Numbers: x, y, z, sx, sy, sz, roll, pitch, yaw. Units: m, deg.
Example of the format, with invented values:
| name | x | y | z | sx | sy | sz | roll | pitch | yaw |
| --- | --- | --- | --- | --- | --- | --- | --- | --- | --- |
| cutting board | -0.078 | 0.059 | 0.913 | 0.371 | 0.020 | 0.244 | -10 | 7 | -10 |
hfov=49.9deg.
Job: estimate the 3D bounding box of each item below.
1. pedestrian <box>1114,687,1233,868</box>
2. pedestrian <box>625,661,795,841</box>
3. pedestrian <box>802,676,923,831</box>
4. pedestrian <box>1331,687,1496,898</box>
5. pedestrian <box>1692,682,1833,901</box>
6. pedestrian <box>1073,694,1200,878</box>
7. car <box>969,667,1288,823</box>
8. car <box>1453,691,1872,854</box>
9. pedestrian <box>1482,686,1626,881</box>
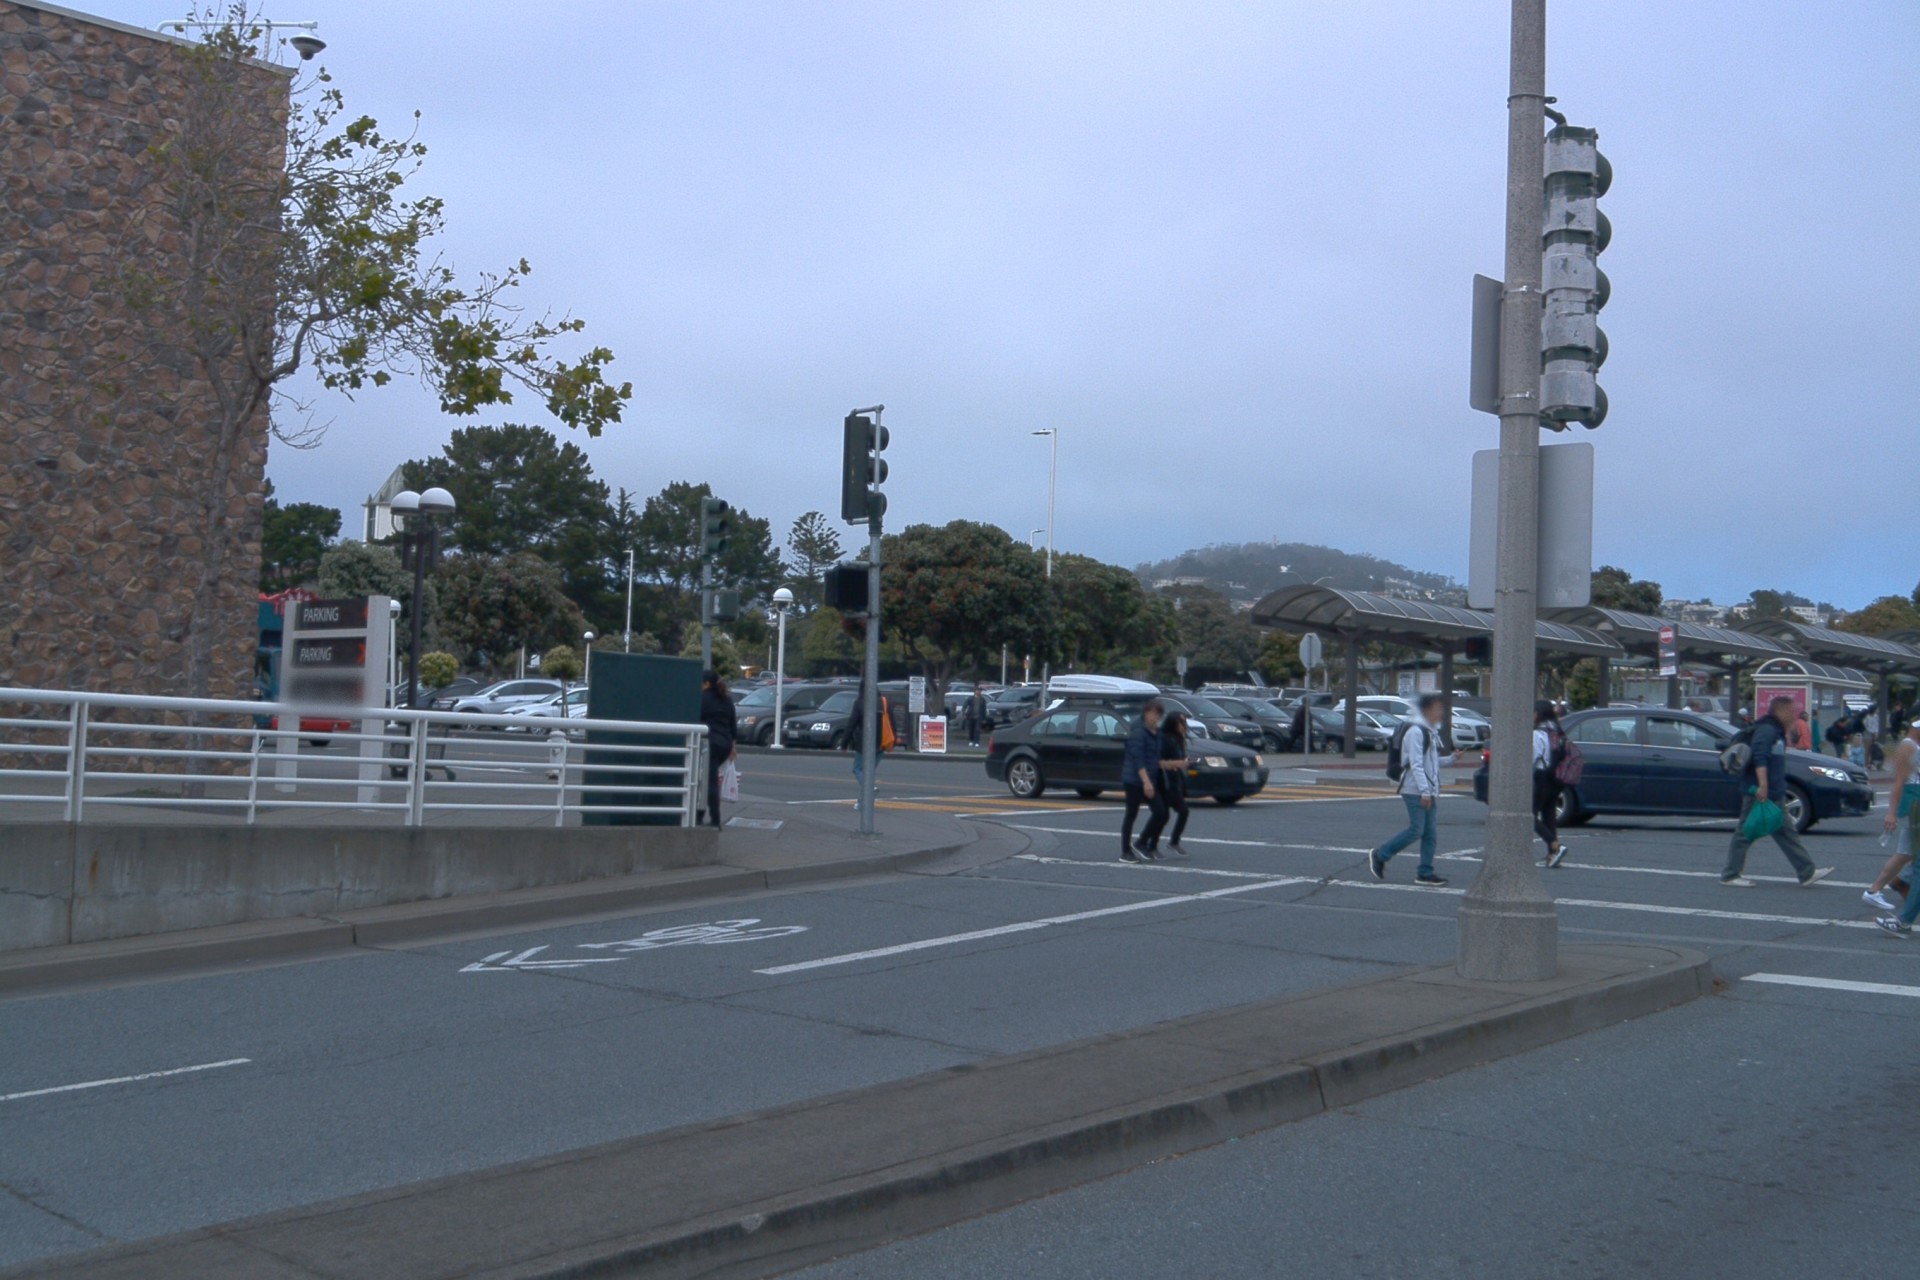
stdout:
| name | x | y | z | sx | sy | sz | roll | pitch | yaw |
| --- | --- | --- | --- | --- | --- | --- | --- | --- | --- |
| pedestrian | 2.052 | 1.299 | 19.855 | 0.961 | 1.660 | 0.602 | 0 | 1 | 35 |
| pedestrian | -2.471 | 1.061 | 20.444 | 1.121 | 1.670 | 1.227 | 1 | 1 | 42 |
| pedestrian | -1.127 | 1.283 | 23.751 | 0.926 | 1.690 | 1.079 | -1 | 1 | -38 |
| pedestrian | 3.845 | 1.258 | 17.484 | 1.048 | 1.670 | 0.929 | 1 | 1 | 40 |
| pedestrian | 6.643 | 1.229 | 17.086 | 0.938 | 1.720 | 0.670 | 0 | 1 | 37 |
| pedestrian | 1.663 | 1.352 | 19.470 | 0.992 | 1.650 | 0.668 | 0 | 1 | 35 |
| car | 2.387 | 1.444 | 29.974 | 4.359 | 2.000 | 1.881 | 1 | 1 | 41 |
| car | 8.345 | 1.501 | 24.587 | 4.439 | 1.650 | 1.947 | 0 | 1 | 29 |
| pedestrian | 5.413 | 1.273 | 18.801 | 0.997 | 1.670 | 0.913 | 0 | 1 | 37 |
